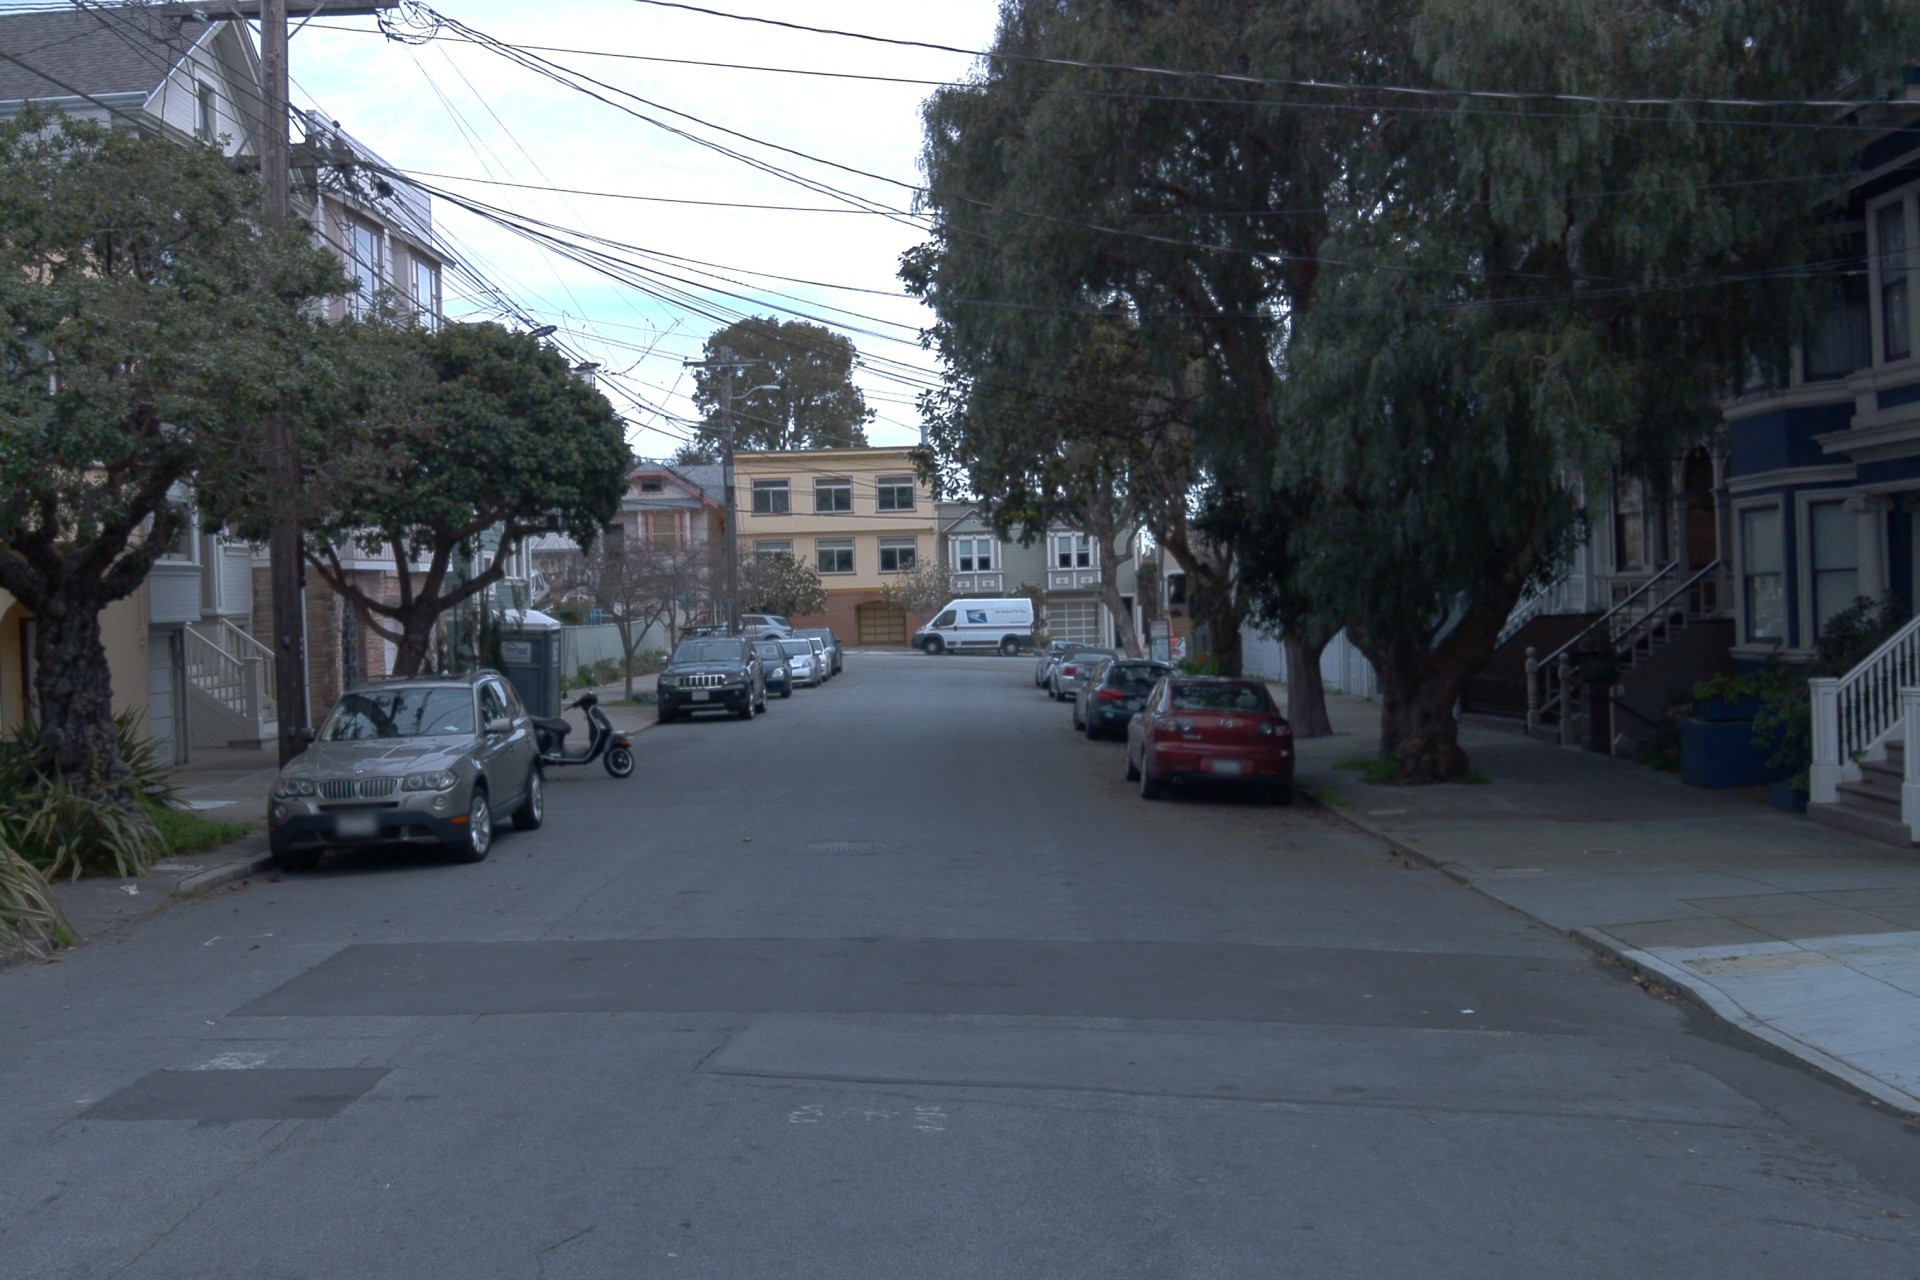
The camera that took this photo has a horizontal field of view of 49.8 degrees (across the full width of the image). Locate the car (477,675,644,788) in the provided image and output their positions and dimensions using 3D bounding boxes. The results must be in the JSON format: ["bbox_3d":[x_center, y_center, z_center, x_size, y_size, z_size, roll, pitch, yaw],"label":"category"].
[{"bbox_3d":[-5.268,1.198,27.364,2.043,1.431,0.920,1,1,-2],"label":"car"}]

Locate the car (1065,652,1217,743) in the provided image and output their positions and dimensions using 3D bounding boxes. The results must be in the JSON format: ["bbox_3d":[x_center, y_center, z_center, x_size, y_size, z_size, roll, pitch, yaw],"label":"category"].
[{"bbox_3d":[3.137,0.965,36.803,2.169,1.400,4.838,1,1,-1],"label":"car"}]

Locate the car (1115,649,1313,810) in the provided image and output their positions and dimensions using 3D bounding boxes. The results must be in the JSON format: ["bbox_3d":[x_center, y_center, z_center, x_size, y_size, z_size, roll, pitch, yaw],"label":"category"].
[{"bbox_3d":[3.034,1.021,25.597,1.960,1.710,4.635,1,1,1],"label":"car"}]

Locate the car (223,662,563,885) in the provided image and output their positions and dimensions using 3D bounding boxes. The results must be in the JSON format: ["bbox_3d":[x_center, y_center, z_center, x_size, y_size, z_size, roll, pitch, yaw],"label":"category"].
[{"bbox_3d":[-5.144,1.134,19.436,2.068,1.725,4.587,1,1,-2],"label":"car"}]
